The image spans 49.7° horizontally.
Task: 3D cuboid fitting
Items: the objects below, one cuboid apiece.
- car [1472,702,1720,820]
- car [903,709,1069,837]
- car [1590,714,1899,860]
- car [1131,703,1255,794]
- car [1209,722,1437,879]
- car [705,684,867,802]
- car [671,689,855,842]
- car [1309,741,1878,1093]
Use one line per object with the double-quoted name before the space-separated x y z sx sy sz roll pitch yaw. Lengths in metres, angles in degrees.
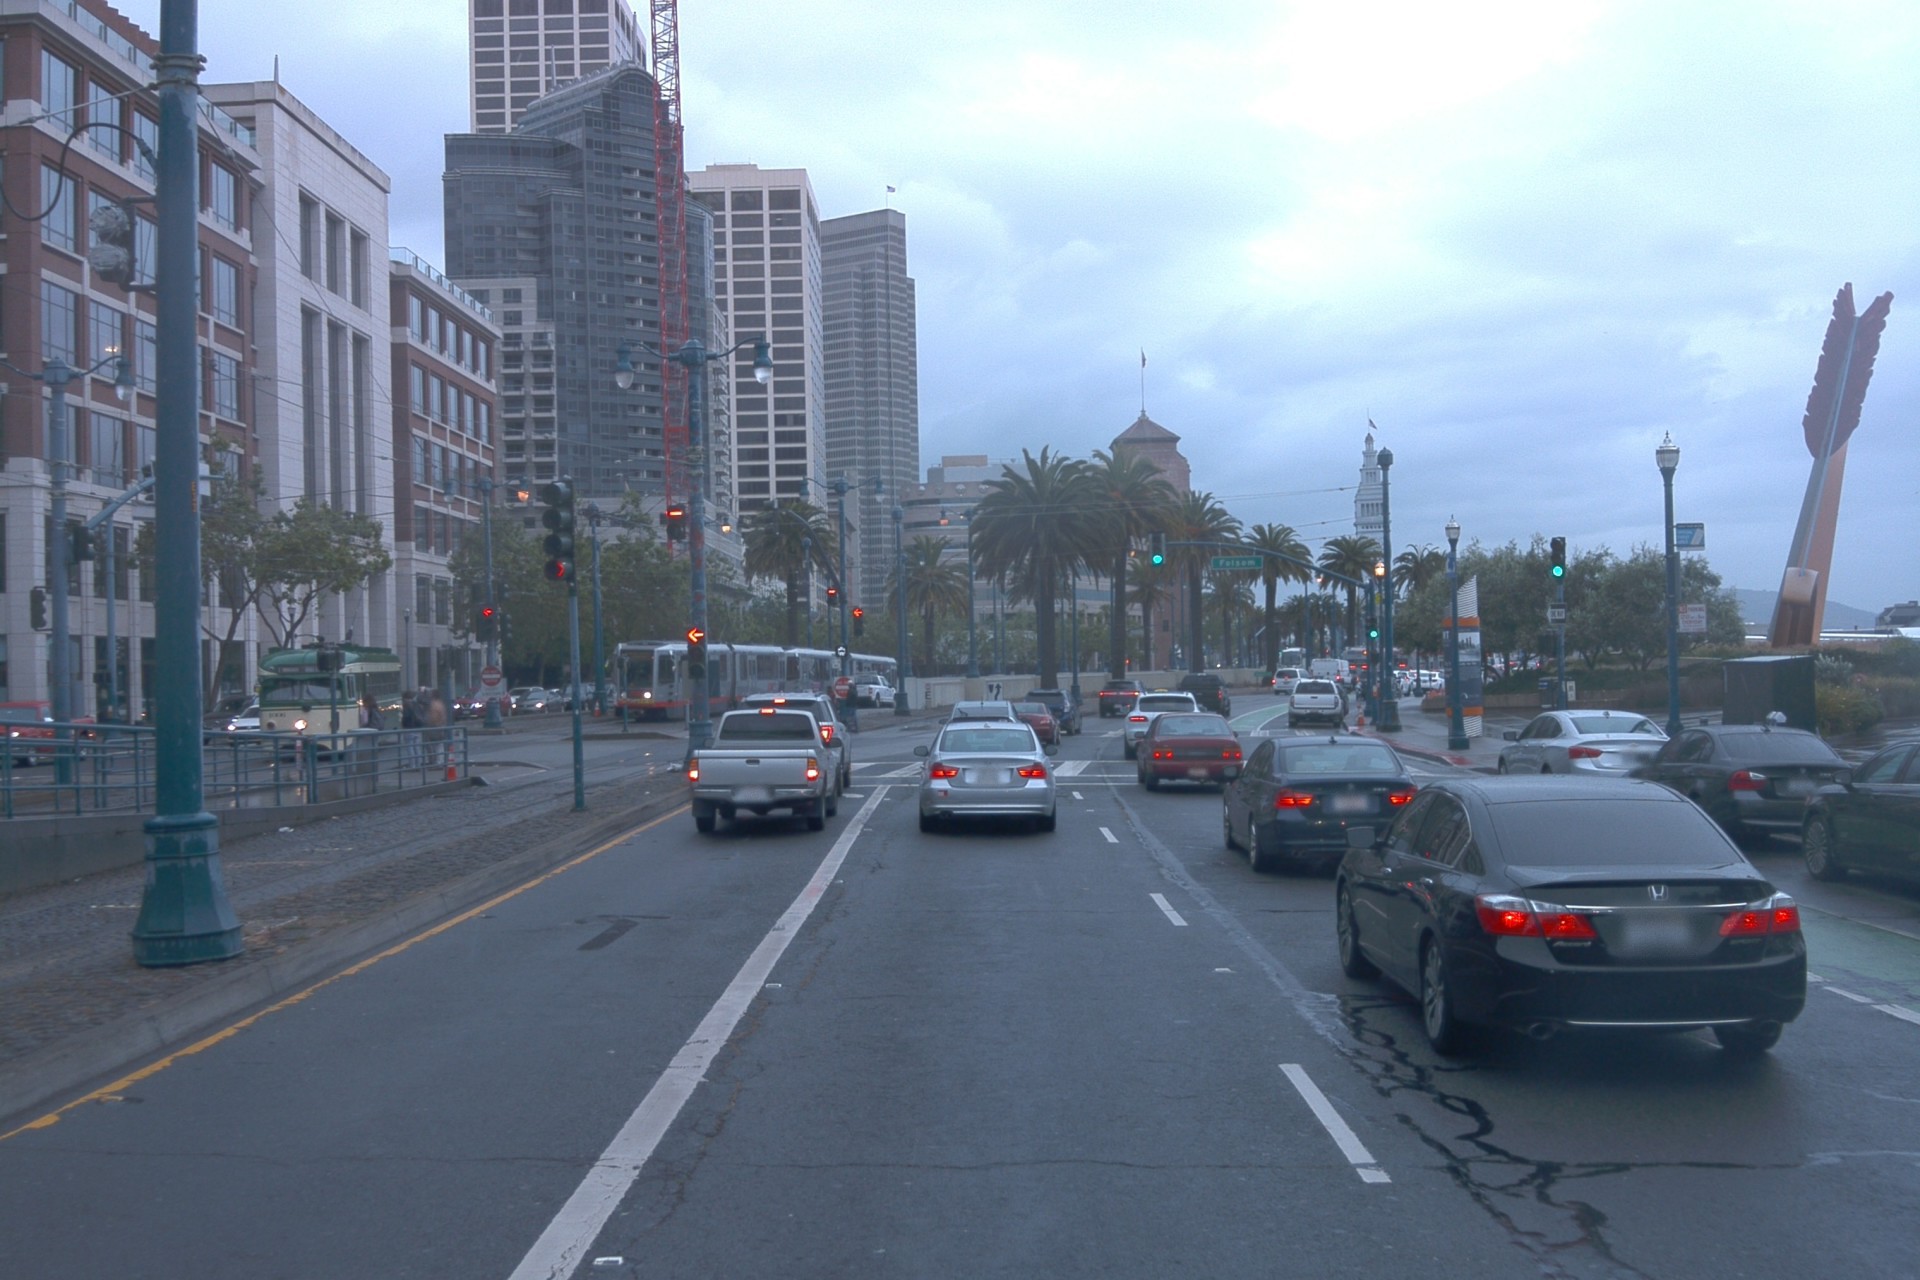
"car" 9.493 1.760 31.447 2.246 1.550 5.105 0 -1 1
"car" 0.349 1.743 28.265 2.067 1.510 4.625 0 -1 1
"car" 9.312 1.698 25.059 2.078 1.500 4.502 0 -1 1
"car" 4.074 1.885 36.804 1.924 1.450 3.944 0 -1 2
"car" 3.867 1.683 22.775 1.869 1.450 4.344 0 -1 2
"car" -2.934 1.717 36.137 2.401 1.870 5.027 0 -1 0
"car" -2.587 1.623 28.339 2.053 1.860 4.771 0 -1 0
"car" 3.455 1.456 12.356 2.069 1.540 4.627 0 -1 1
